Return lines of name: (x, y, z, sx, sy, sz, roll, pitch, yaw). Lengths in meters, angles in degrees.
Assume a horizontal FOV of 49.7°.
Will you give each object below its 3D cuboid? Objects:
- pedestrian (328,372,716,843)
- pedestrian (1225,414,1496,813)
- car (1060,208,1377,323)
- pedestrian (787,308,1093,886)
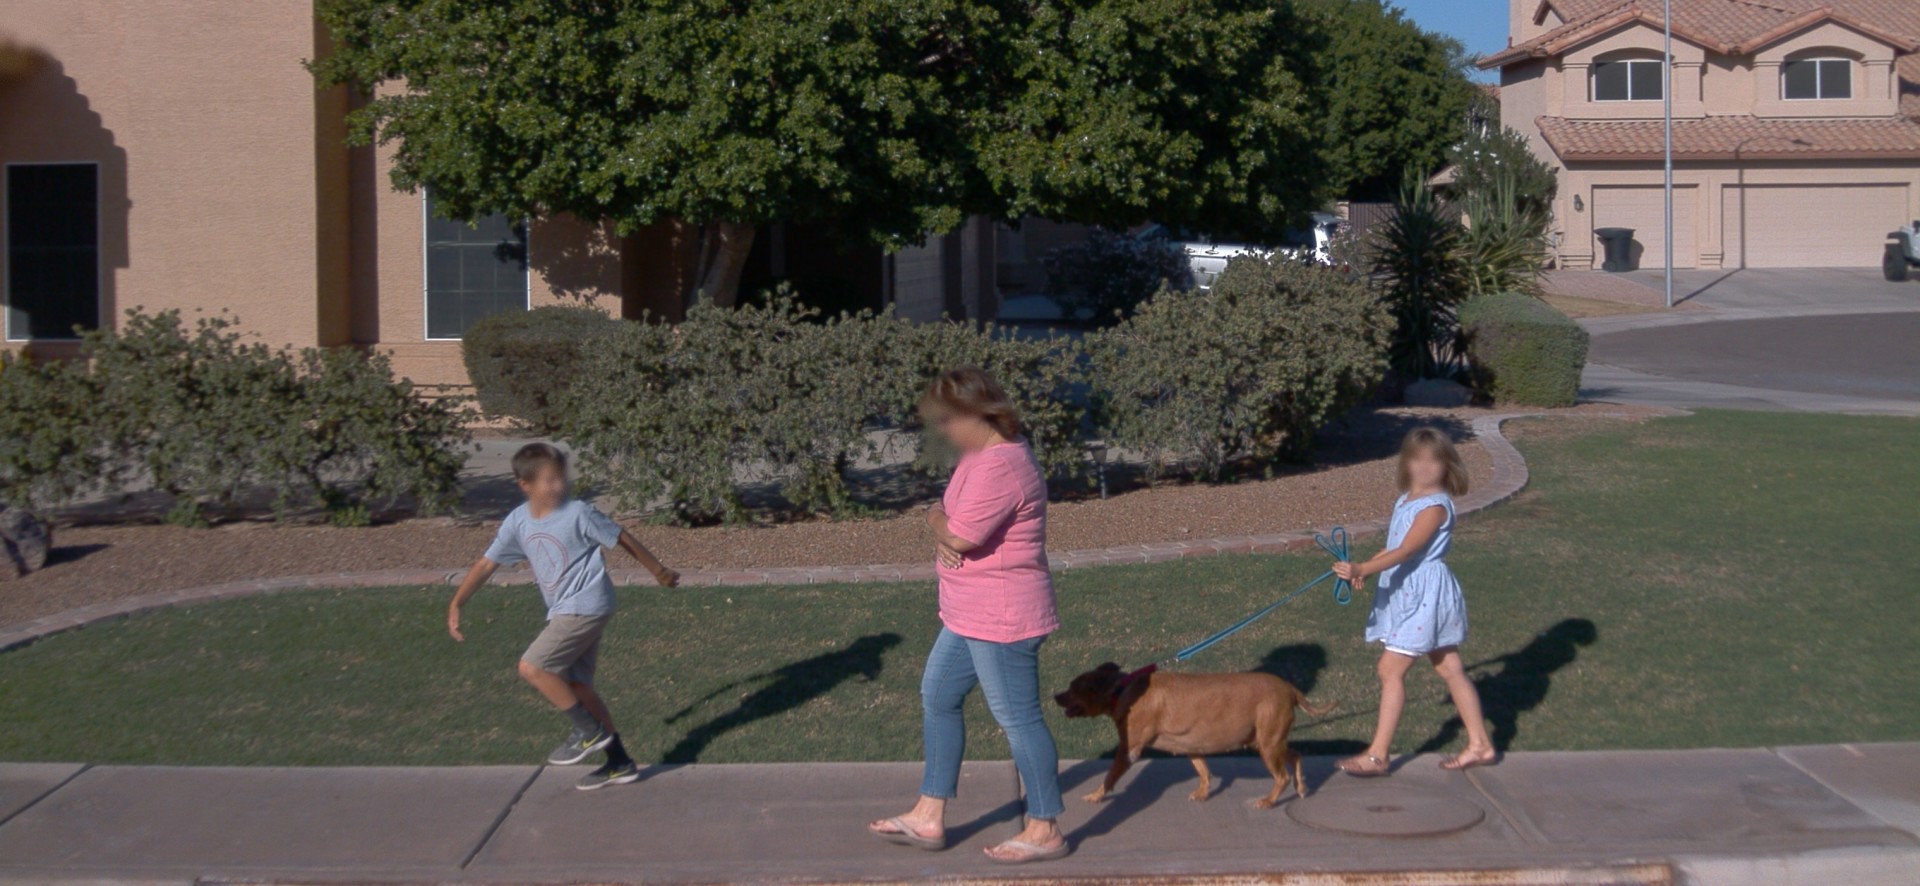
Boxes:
pedestrian: (-1.527, 0.522, 7.542, 1.259, 1.457, 1.213, -1, 3, -7)
pedestrian: (1.483, 0.600, 7.796, 0.835, 1.337, 0.793, 0, 2, -4)
car: (4.528, -3.187, 36.571, 5.038, 1.893, 2.276, 3, 5, 32)
pedestrian: (-0.043, 0.473, 6.881, 0.942, 1.797, 0.893, 0, 2, 2)
